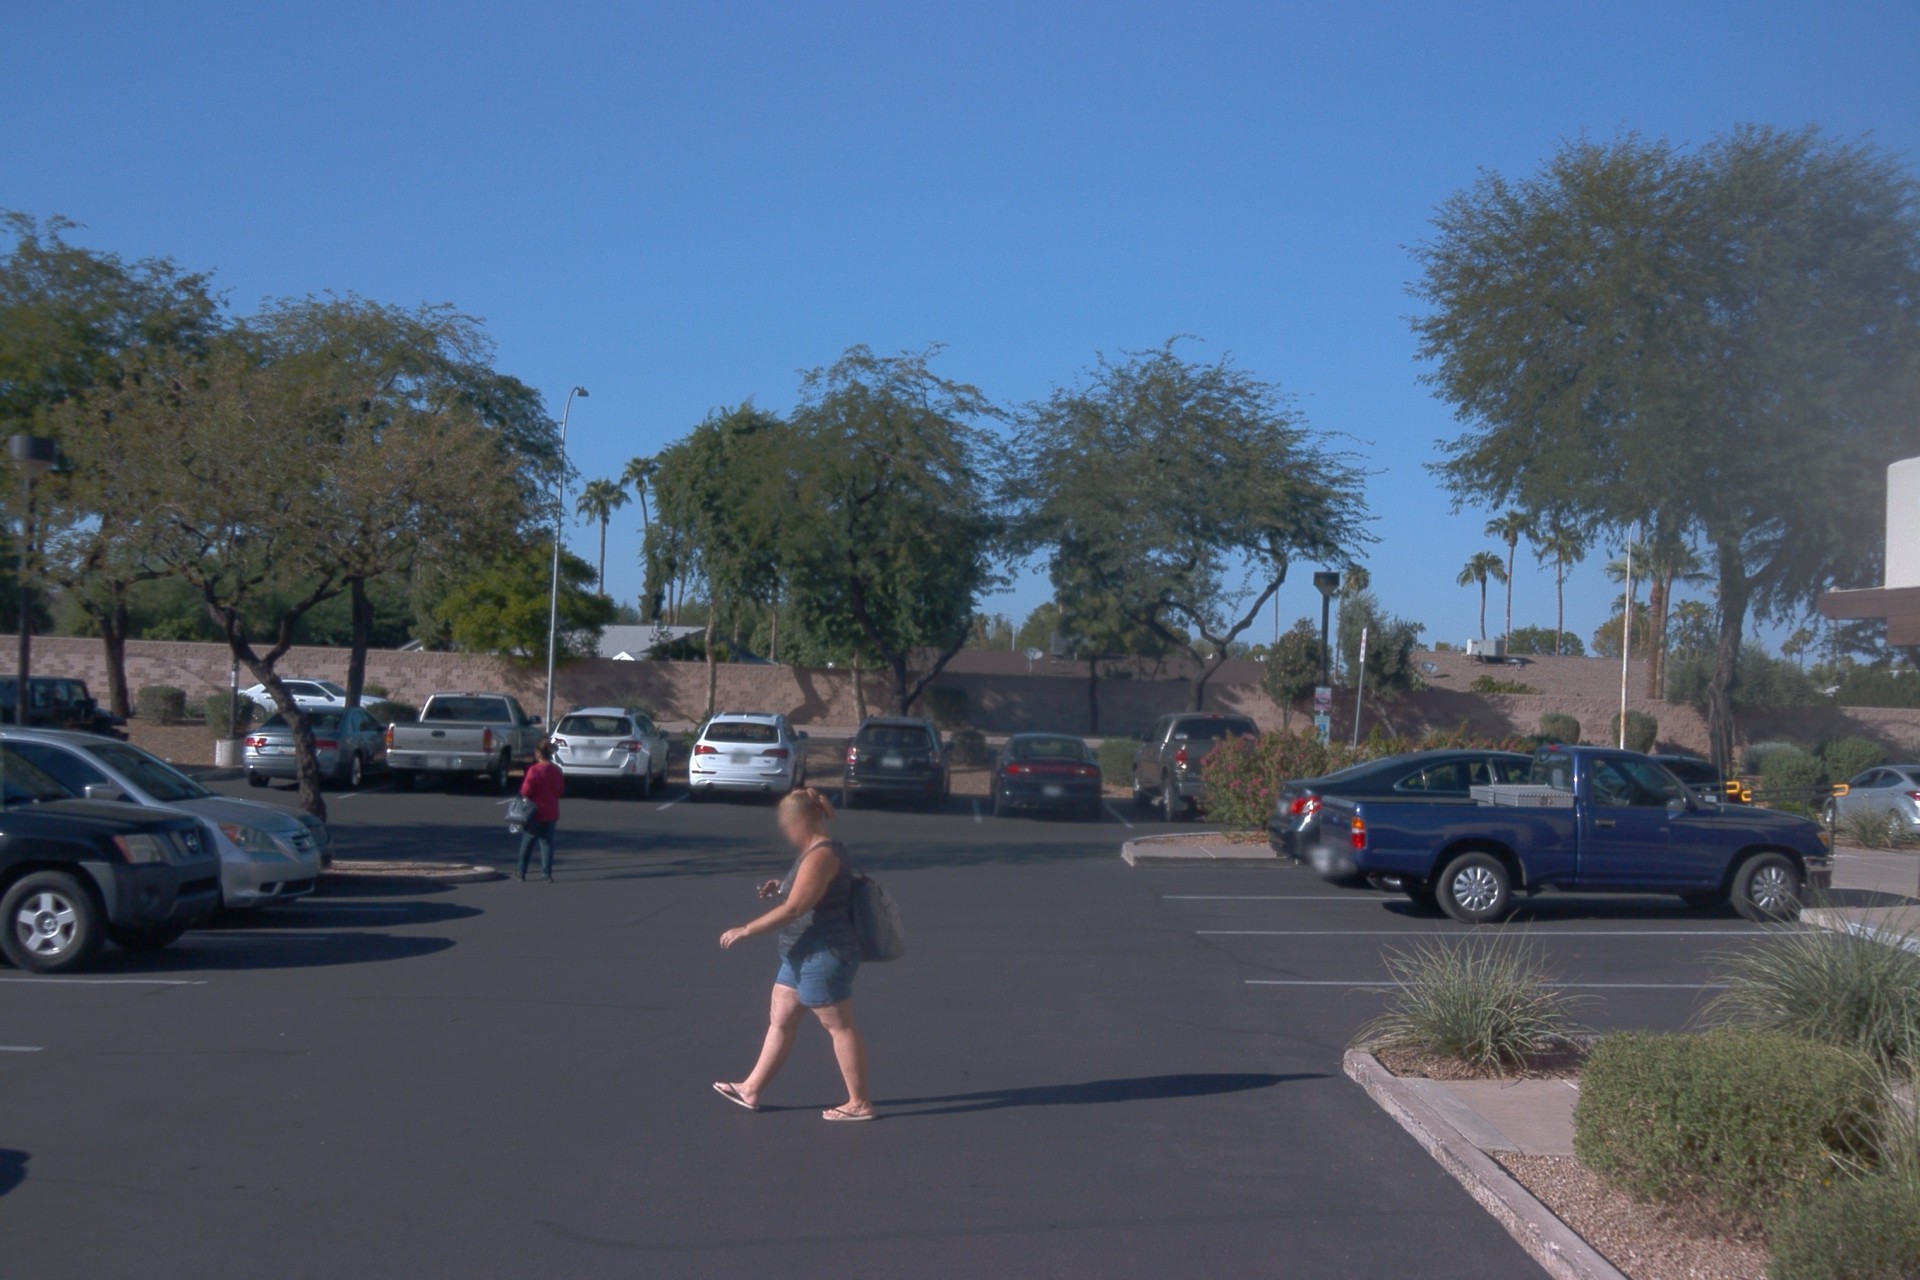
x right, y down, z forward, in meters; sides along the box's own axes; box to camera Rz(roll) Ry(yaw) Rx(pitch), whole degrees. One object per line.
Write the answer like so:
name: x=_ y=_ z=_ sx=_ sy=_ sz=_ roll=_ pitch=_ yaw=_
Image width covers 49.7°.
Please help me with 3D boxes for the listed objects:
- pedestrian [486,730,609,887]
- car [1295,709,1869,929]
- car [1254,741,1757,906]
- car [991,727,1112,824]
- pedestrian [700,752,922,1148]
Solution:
pedestrian: x=-4.646 y=1.867 z=23.334 sx=0.982 sy=1.680 sz=1.039 roll=1 pitch=-1 yaw=-37
car: x=5.647 y=1.612 z=19.284 sx=4.685 sy=1.860 sz=2.091 roll=1 pitch=-1 yaw=-2
car: x=5.684 y=1.912 z=22.039 sx=4.780 sy=1.570 sz=2.041 roll=1 pitch=-1 yaw=-2
car: x=1.615 y=2.440 z=38.132 sx=2.065 sy=1.540 sz=4.526 roll=1 pitch=-1 yaw=1
pedestrian: x=-0.683 y=1.430 z=9.862 sx=0.962 sy=1.750 sz=0.926 roll=1 pitch=-1 yaw=0
